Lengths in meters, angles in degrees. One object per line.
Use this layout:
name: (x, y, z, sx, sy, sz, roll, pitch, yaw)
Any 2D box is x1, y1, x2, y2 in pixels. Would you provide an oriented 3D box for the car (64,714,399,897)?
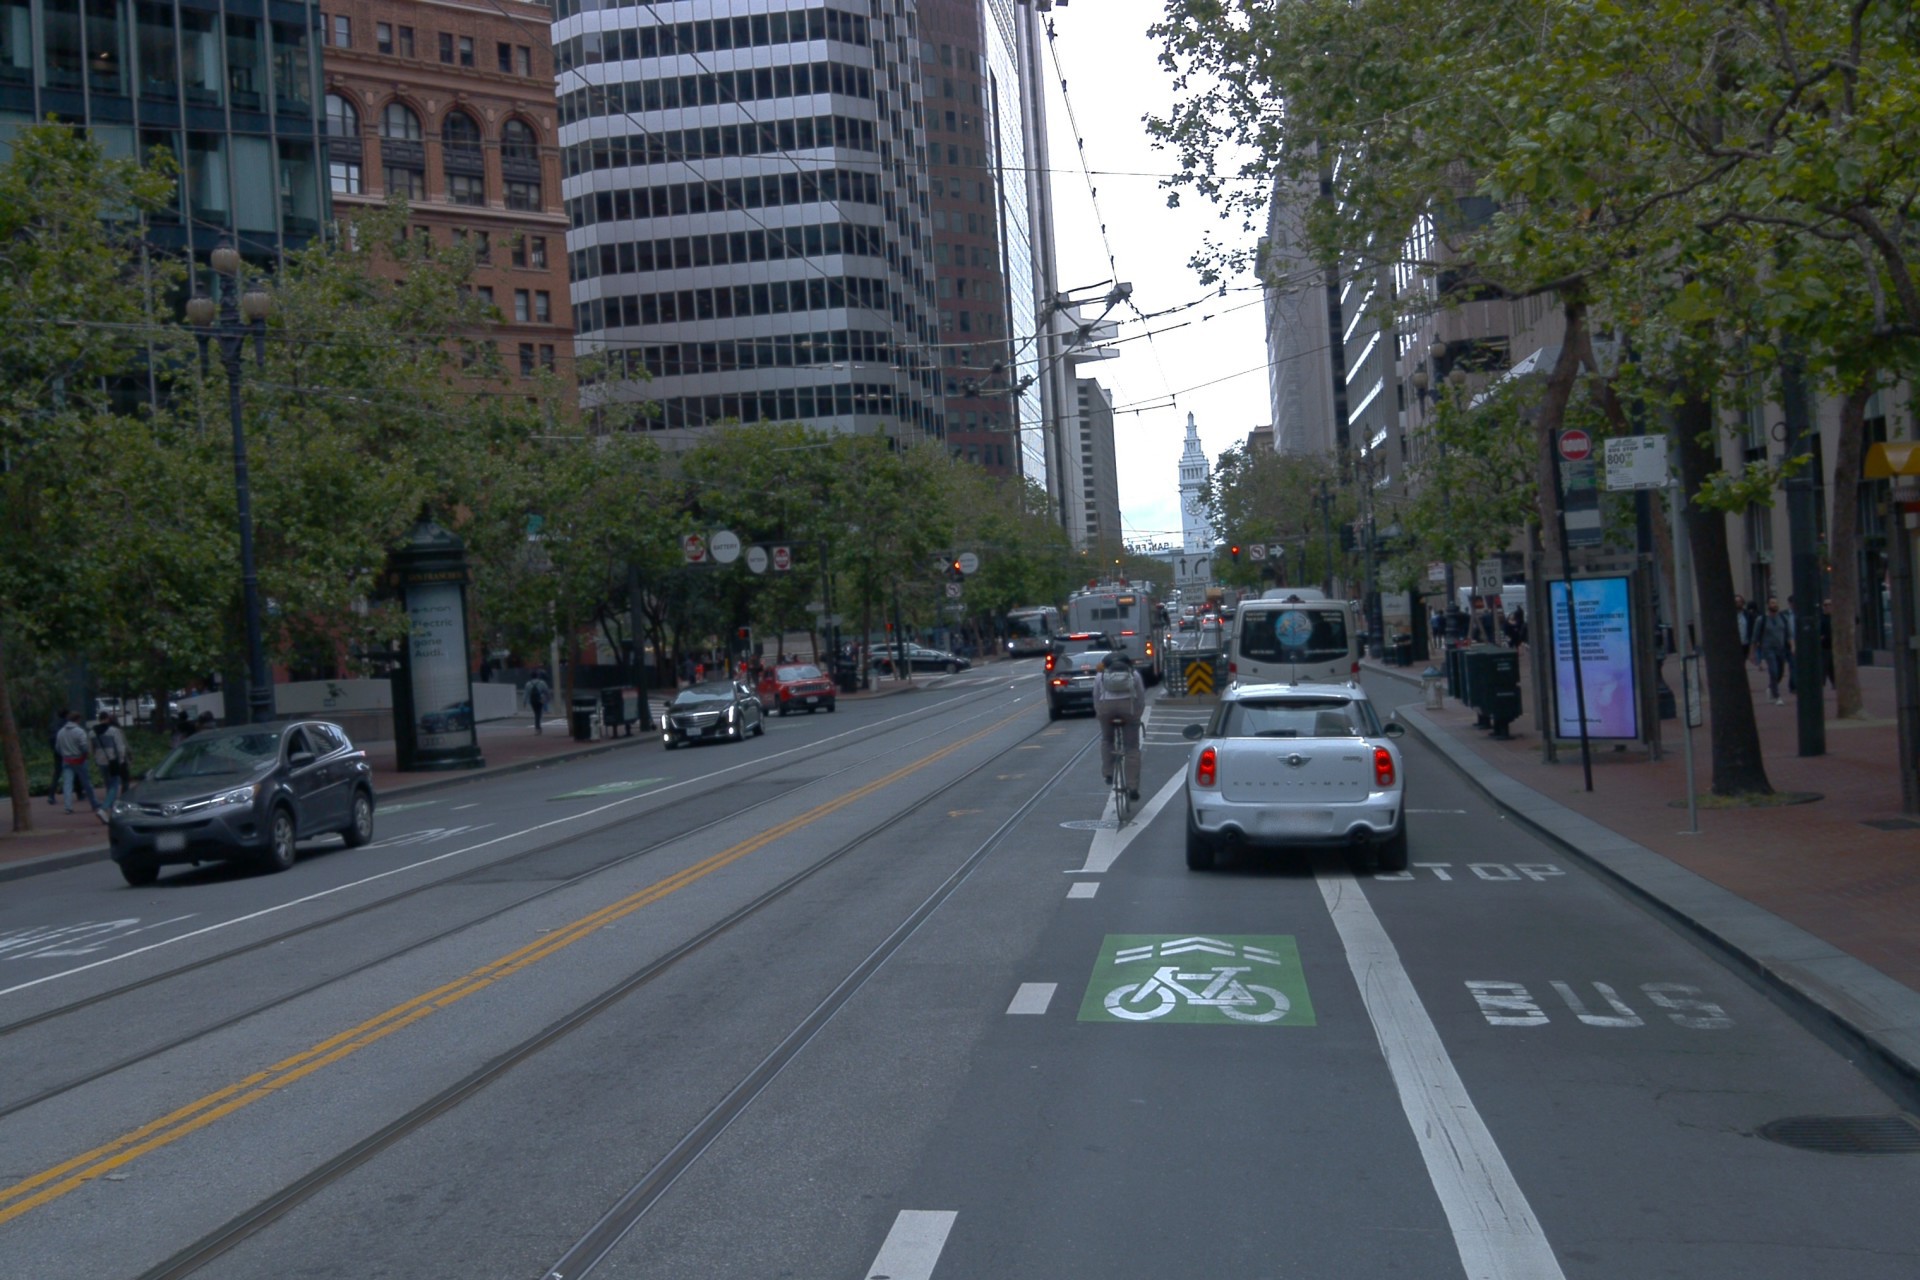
car: (-8.221, 1.812, 23.827, 2.078, 1.700, 4.479, 0, 1, 3)

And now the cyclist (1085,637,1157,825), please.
cyclist: (1.708, 0.931, 21.774, 0.638, 1.900, 1.438, 0, 1, 9)

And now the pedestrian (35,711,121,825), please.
pedestrian: (-15.138, 2.183, 35.487, 0.890, 1.880, 1.183, 0, 1, 5)

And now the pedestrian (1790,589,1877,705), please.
pedestrian: (14.014, 0.102, 33.169, 0.947, 1.830, 1.152, 0, 1, 3)

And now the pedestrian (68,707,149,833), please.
pedestrian: (-13.534, 2.052, 32.870, 0.746, 1.920, 1.119, 0, 1, 5)

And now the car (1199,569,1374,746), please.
car: (5.282, 0.233, 33.115, 2.537, 2.590, 5.346, 0, 1, 10)

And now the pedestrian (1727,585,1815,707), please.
pedestrian: (13.083, 0.085, 33.372, 1.028, 1.930, 1.070, 0, 1, 2)

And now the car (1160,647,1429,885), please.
car: (2.926, 0.990, 18.107, 2.076, 1.784, 3.876, 0, 1, 9)
